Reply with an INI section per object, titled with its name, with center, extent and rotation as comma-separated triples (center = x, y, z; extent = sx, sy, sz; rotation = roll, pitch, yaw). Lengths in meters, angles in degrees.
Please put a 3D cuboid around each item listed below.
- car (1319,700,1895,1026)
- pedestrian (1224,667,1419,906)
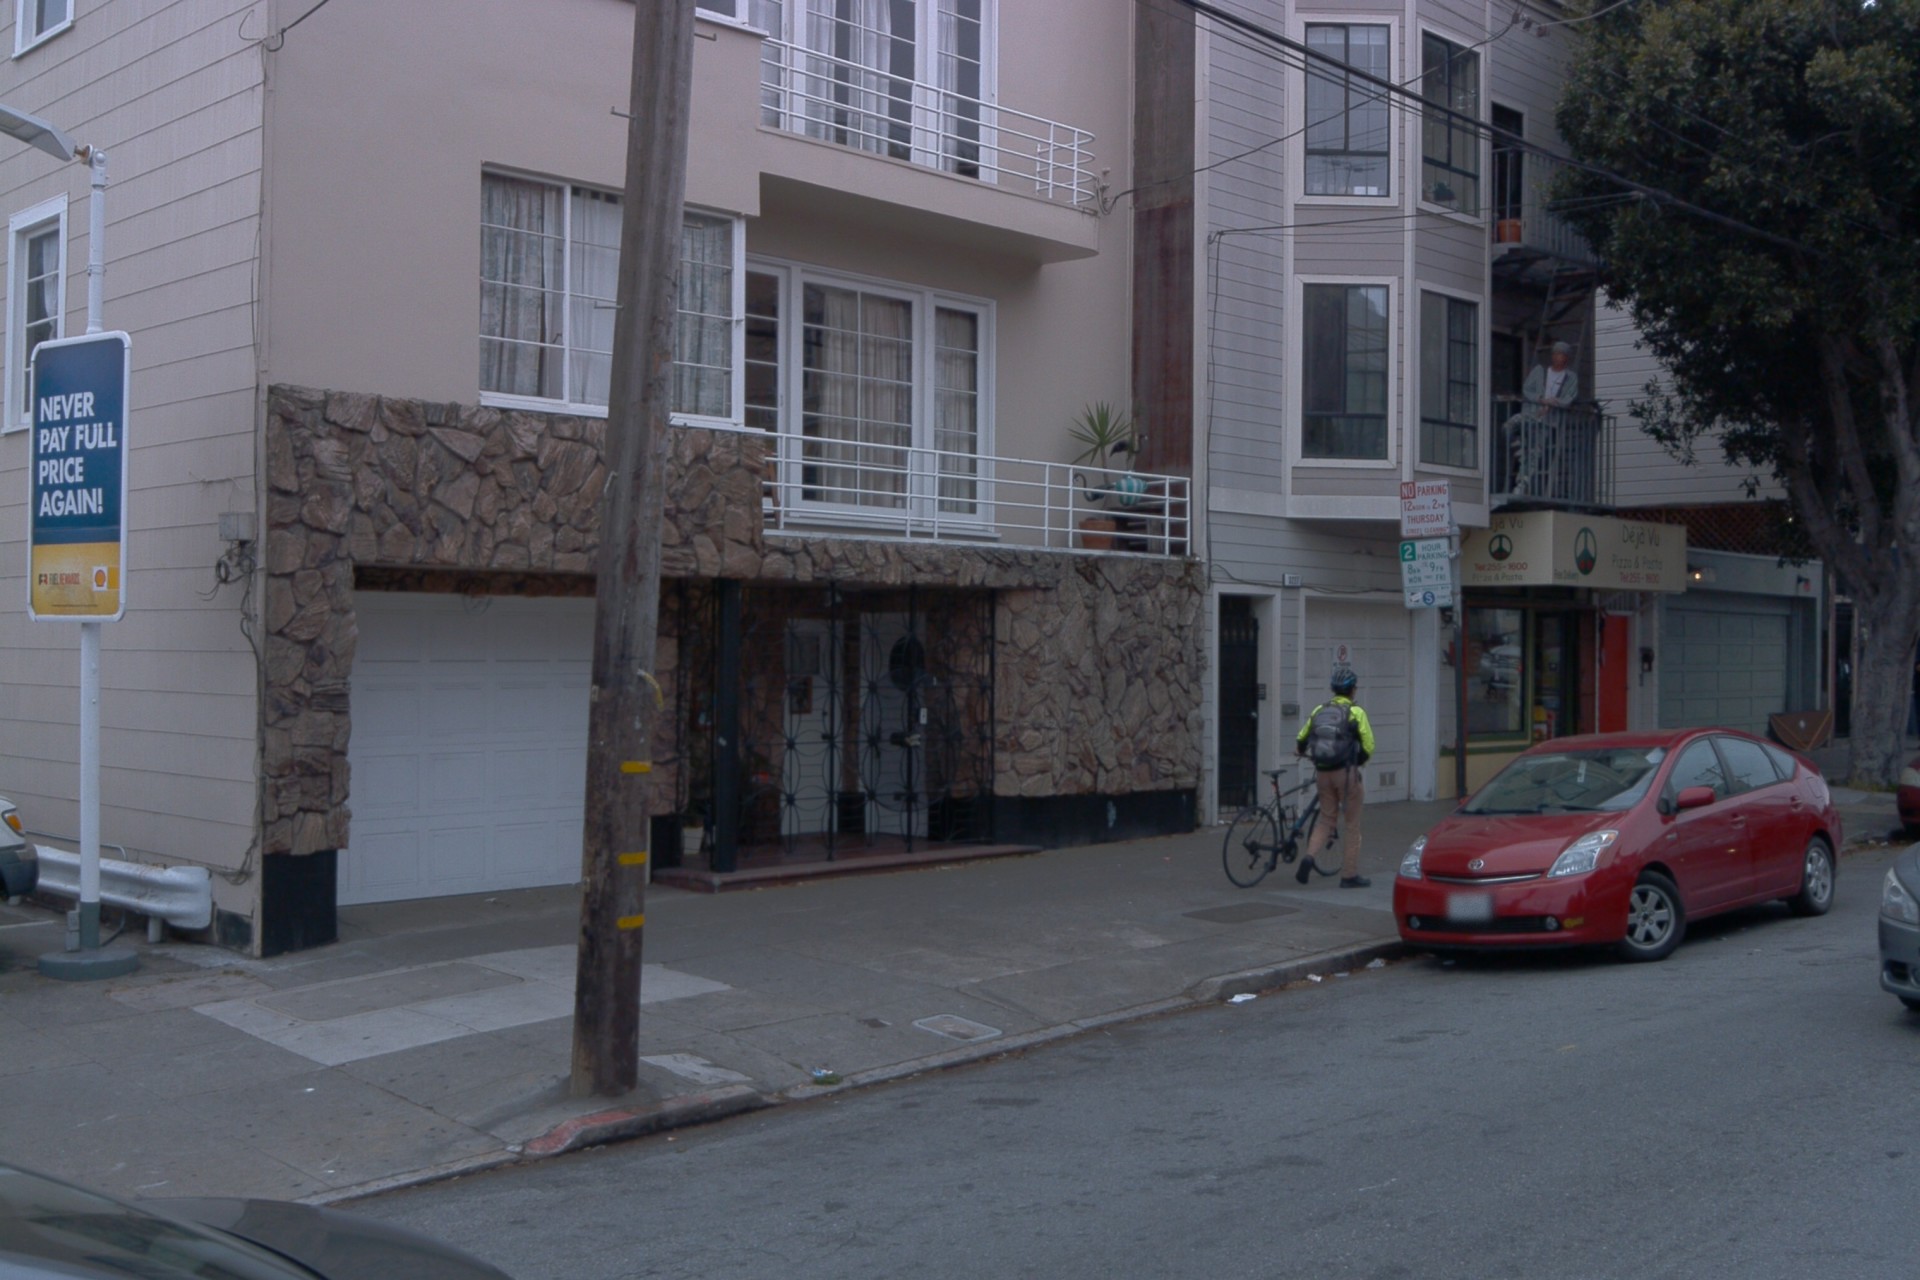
[car]
center = 4.769, 1.420, 14.823
extent = 2.063, 1.750, 4.566
rotation = 1, 1, 45
[pedestrian]
center = 2.947, 1.152, 16.836
extent = 1.119, 1.806, 1.132
rotation = 1, 1, 44
